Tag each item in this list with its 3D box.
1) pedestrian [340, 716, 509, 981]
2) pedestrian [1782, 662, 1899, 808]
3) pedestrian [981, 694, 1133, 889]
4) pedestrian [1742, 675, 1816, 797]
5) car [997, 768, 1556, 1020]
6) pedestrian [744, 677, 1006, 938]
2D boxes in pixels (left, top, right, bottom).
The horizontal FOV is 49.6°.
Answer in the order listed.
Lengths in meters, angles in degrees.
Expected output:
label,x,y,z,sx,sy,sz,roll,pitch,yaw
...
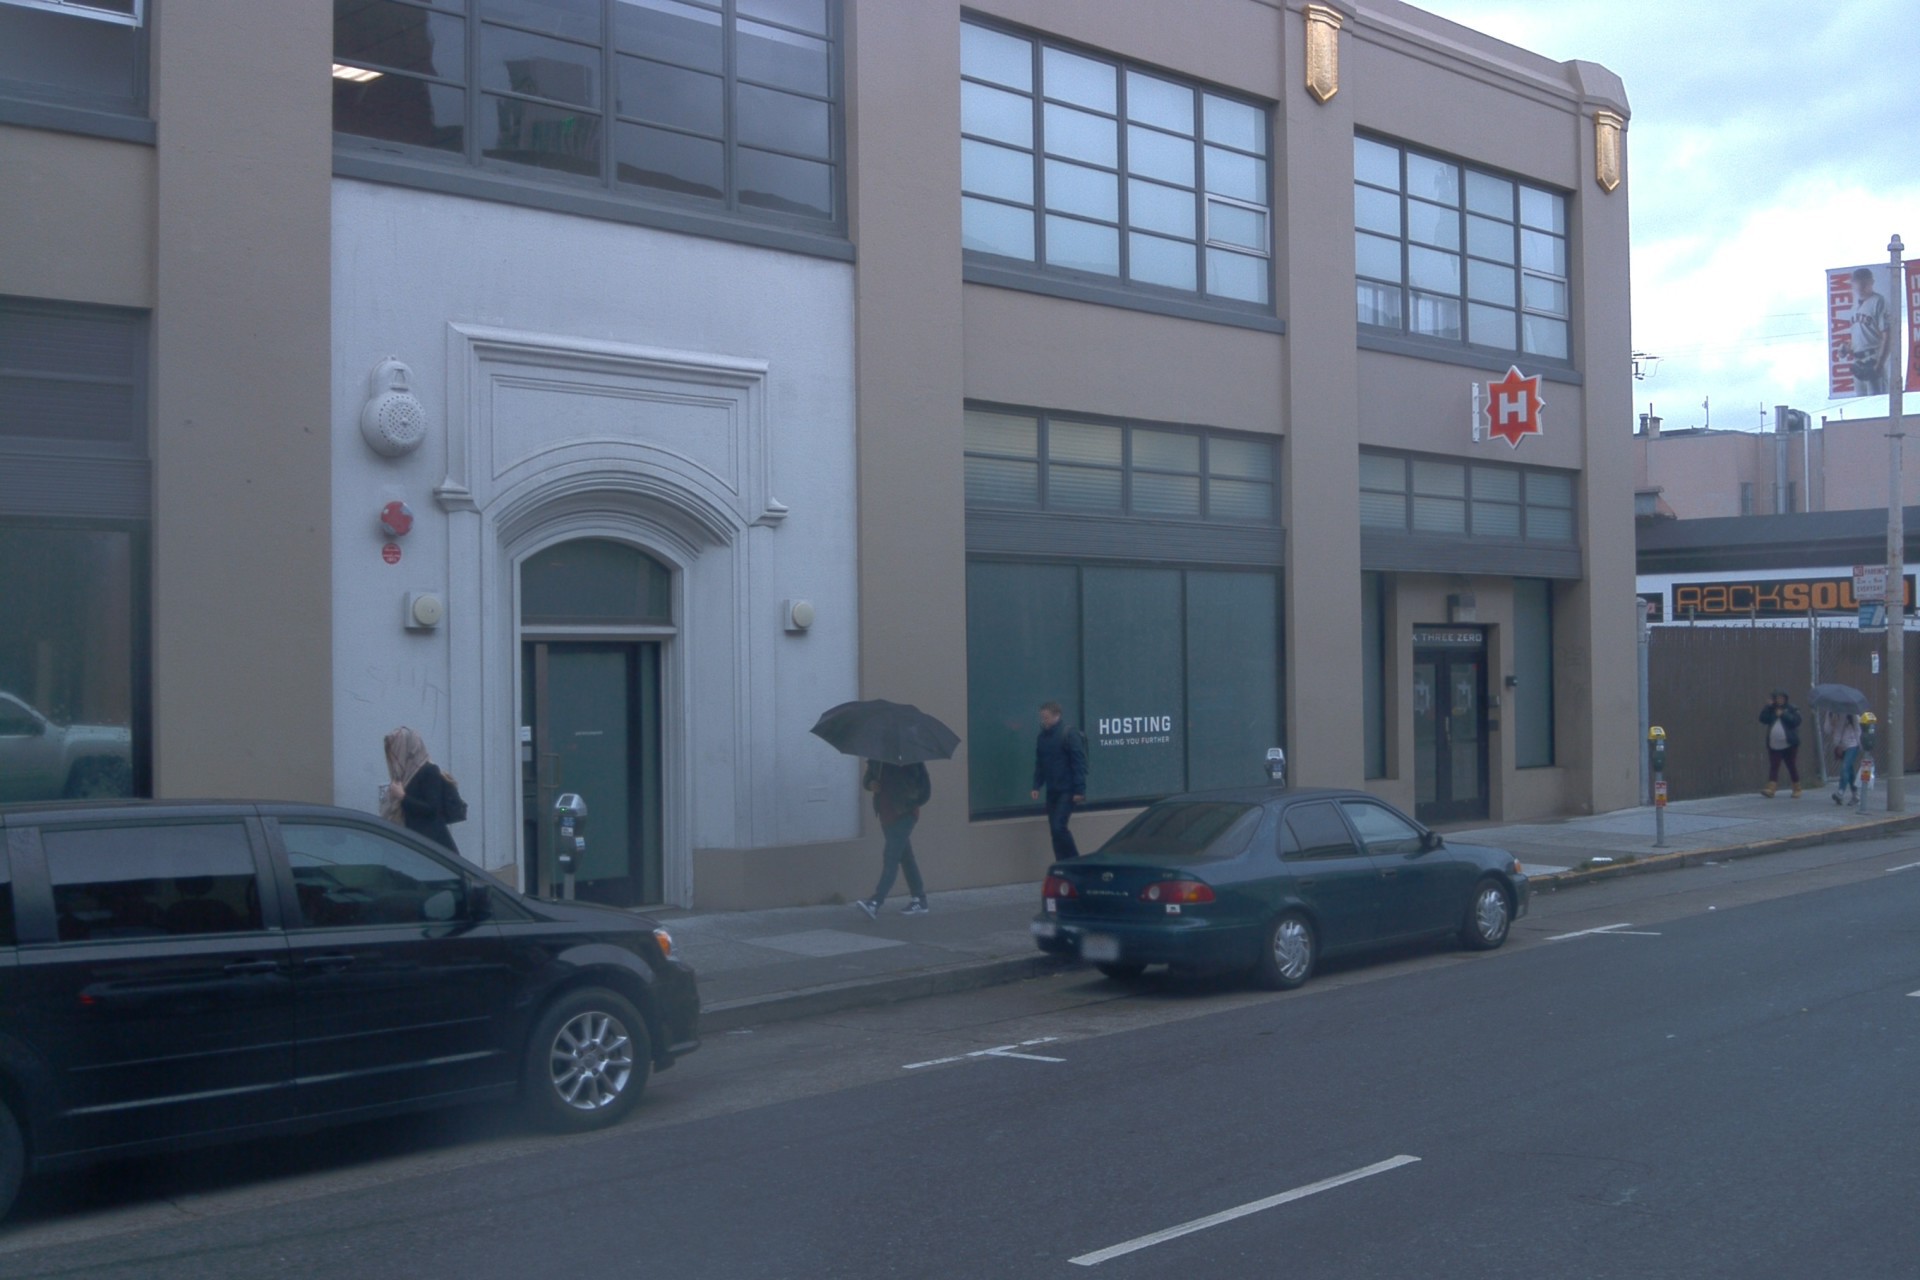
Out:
label,x,y,z,sx,sy,sz,roll,pitch,yaw
pedestrian,-3.767,1.426,14.620,0.852,1.740,0.841,0,0,-42
pedestrian,12.119,1.282,28.620,1.191,1.930,1.096,0,0,-43
pedestrian,0.903,1.376,19.355,0.924,1.708,1.083,0,0,45
pedestrian,11.718,1.353,29.760,0.740,1.700,0.777,0,0,44
car,2.445,1.738,15.301,4.350,1.328,1.799,0,0,-44
pedestrian,-0.687,1.295,16.919,1.494,1.950,1.513,0,0,44
